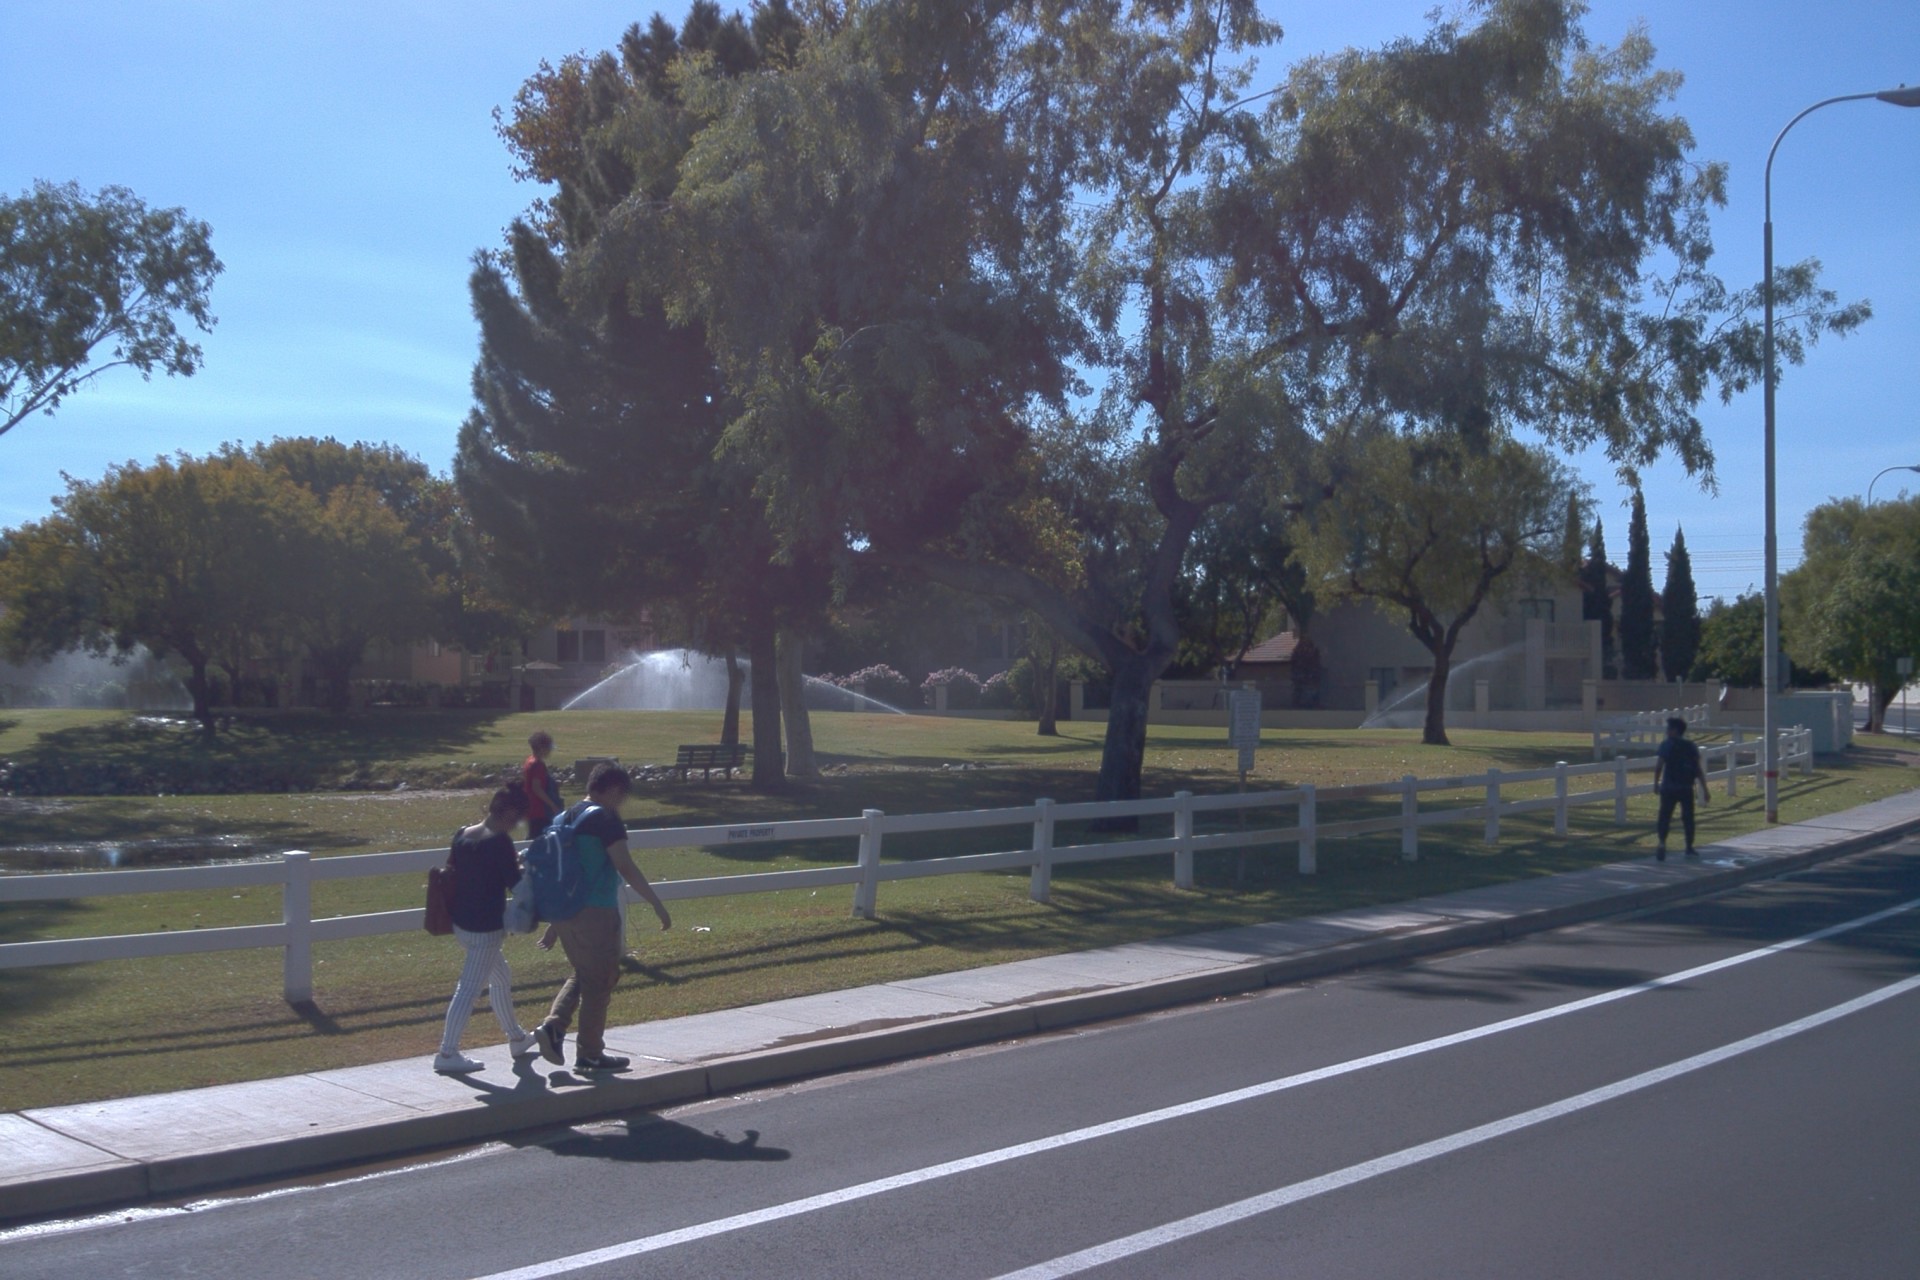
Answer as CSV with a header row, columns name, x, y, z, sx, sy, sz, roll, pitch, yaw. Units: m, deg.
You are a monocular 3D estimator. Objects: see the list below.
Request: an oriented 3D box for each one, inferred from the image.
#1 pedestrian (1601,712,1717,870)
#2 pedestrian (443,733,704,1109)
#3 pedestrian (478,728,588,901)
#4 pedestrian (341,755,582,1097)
name,x,y,z,sx,sy,sz,roll,pitch,yaw
pedestrian,8.261,1.756,24.533,0.985,1.760,1.031,0,-1,39
pedestrian,-2.072,1.451,11.176,0.852,1.850,1.041,0,-1,40
pedestrian,-4.513,1.810,21.924,0.901,1.734,0.995,1,-1,-26
pedestrian,-2.718,1.514,11.359,0.725,1.710,1.012,0,-1,41
